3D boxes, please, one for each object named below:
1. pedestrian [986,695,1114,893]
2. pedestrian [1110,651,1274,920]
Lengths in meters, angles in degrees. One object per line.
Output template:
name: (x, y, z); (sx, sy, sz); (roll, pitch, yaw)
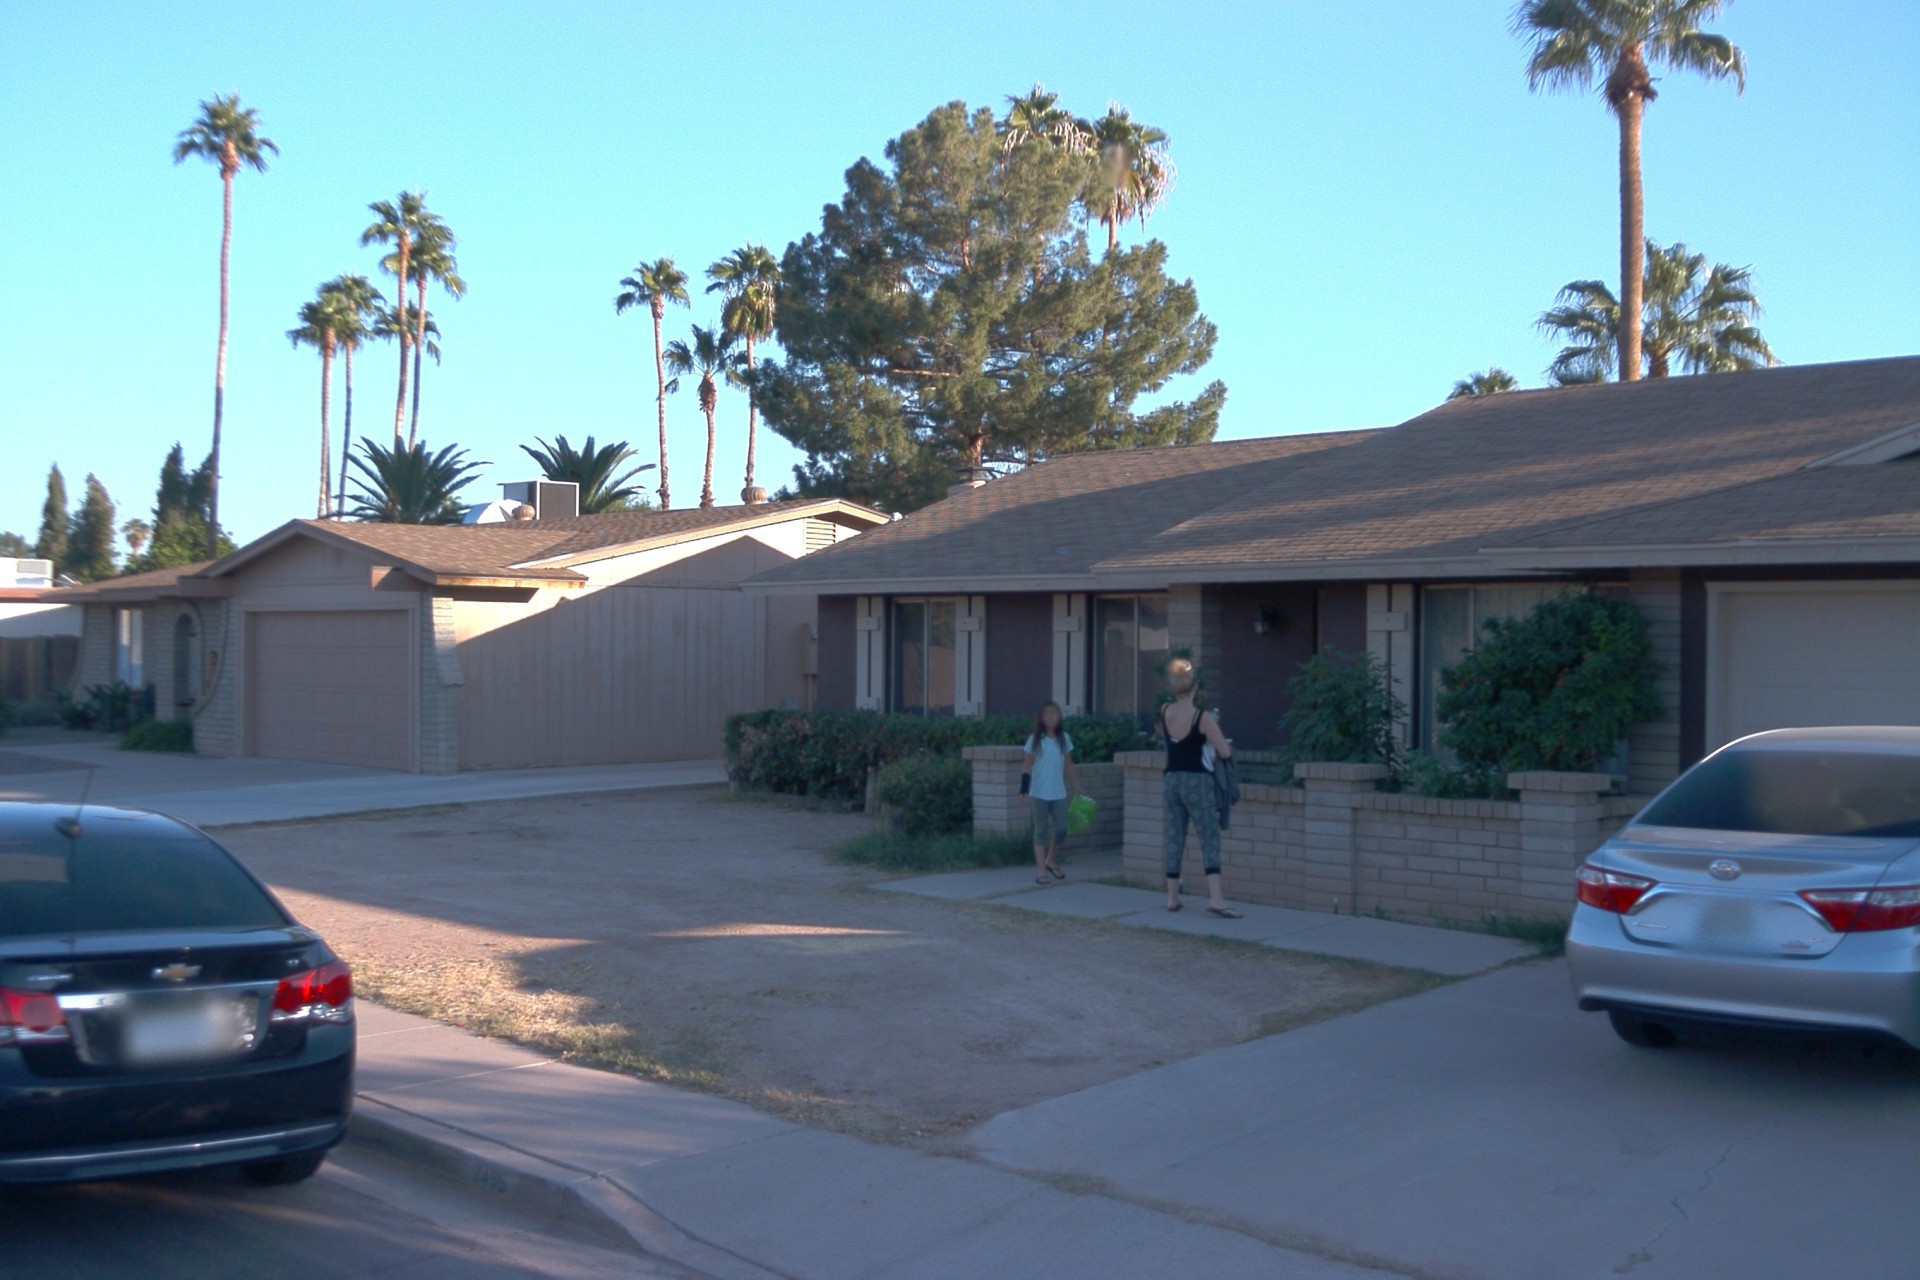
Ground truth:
pedestrian: (0.670, 1.140, 15.662); (0.755, 1.430, 0.746); (1, 0, -15)
pedestrian: (1.587, 0.957, 14.176); (0.877, 1.750, 0.826); (1, 0, 24)
